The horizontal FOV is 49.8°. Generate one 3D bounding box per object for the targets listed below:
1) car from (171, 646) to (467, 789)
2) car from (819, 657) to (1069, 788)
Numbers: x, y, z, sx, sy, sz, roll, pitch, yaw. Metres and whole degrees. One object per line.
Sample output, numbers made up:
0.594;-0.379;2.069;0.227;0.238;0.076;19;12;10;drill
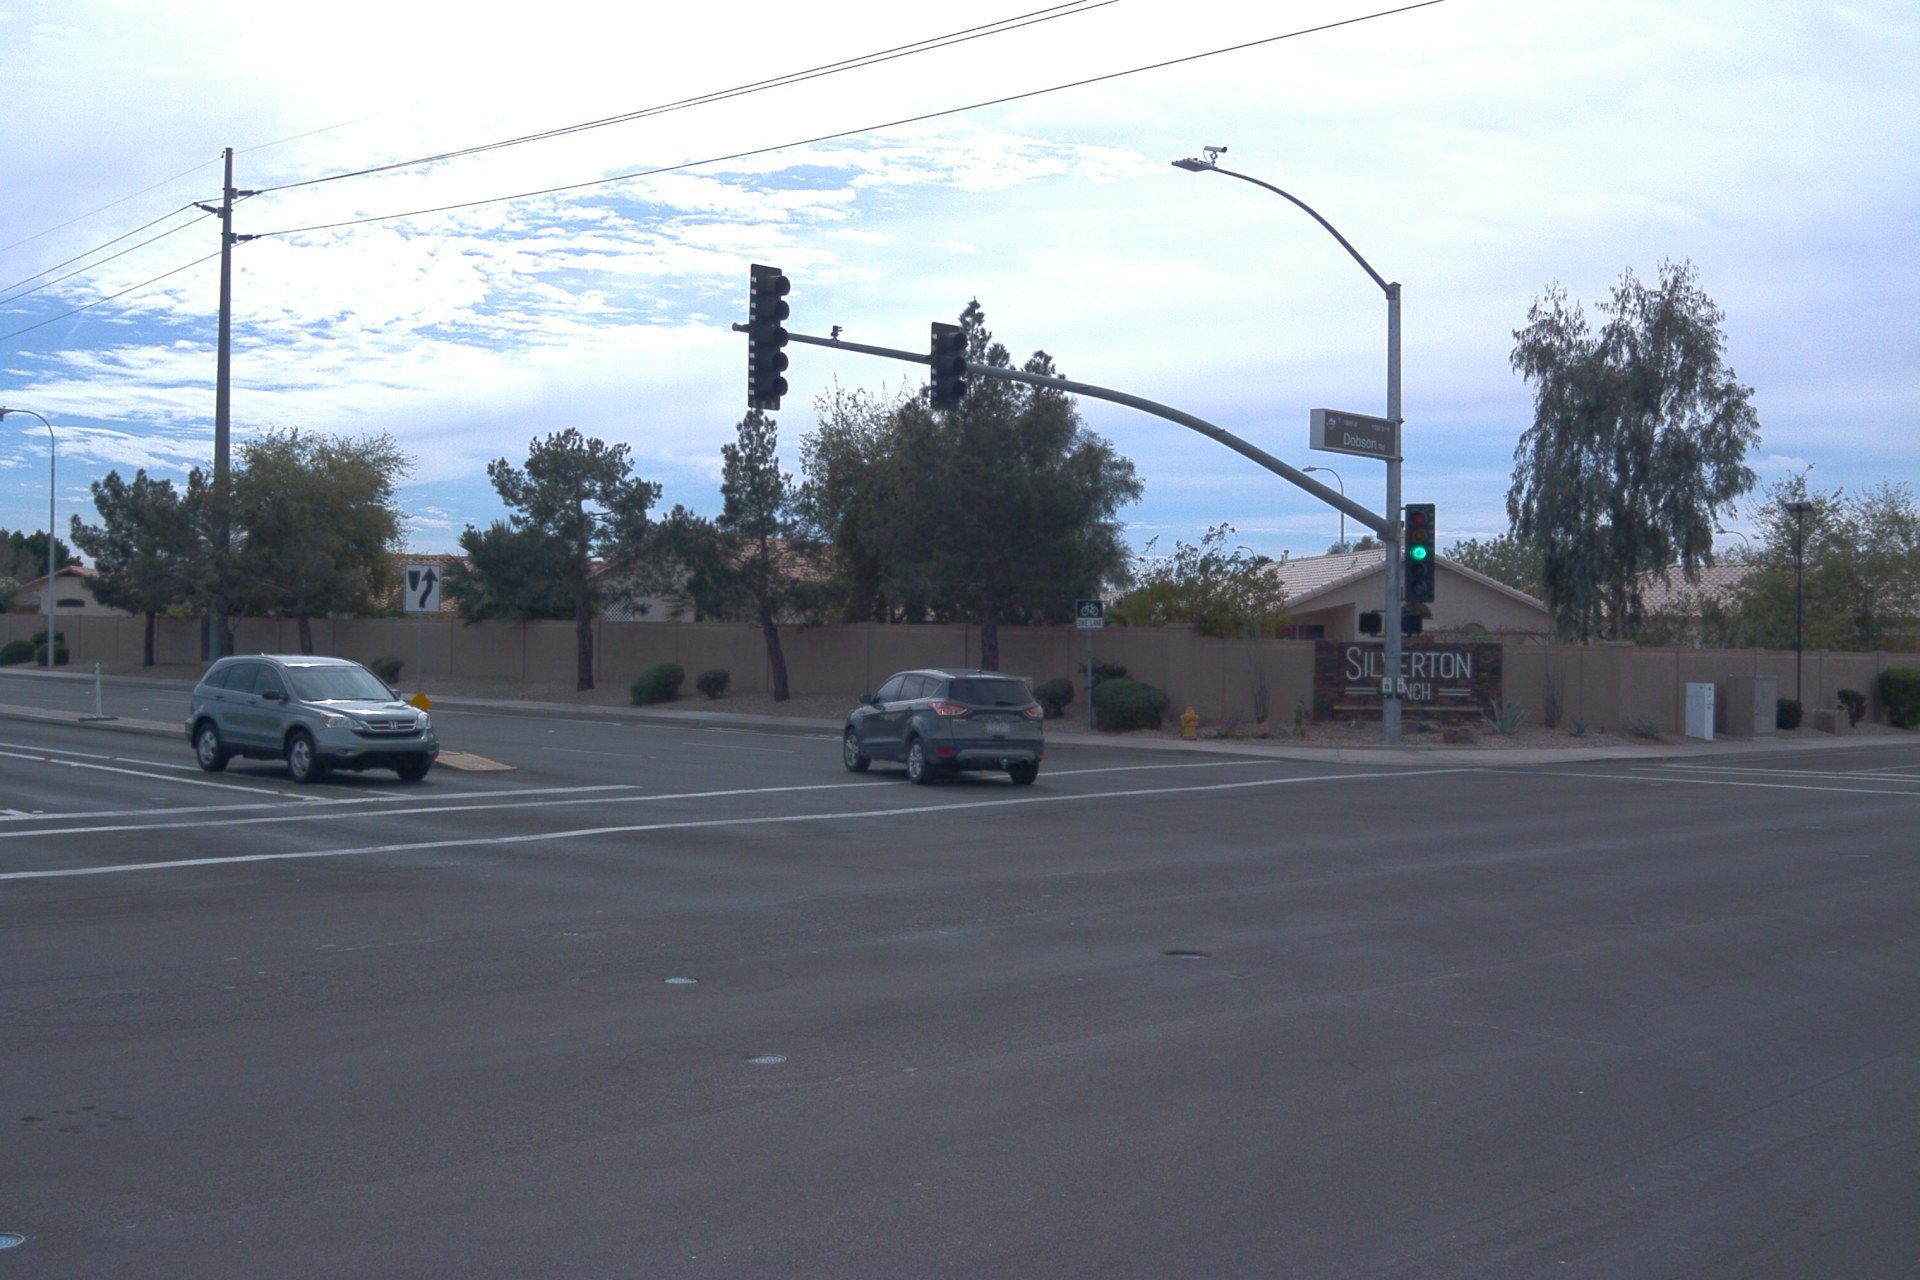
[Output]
-8.968;1.009;28.742;4.385;1.760;2.061;1;0;44;car
-0.338;1.168;30.987;2.128;1.740;4.594;1;0;-23;car
